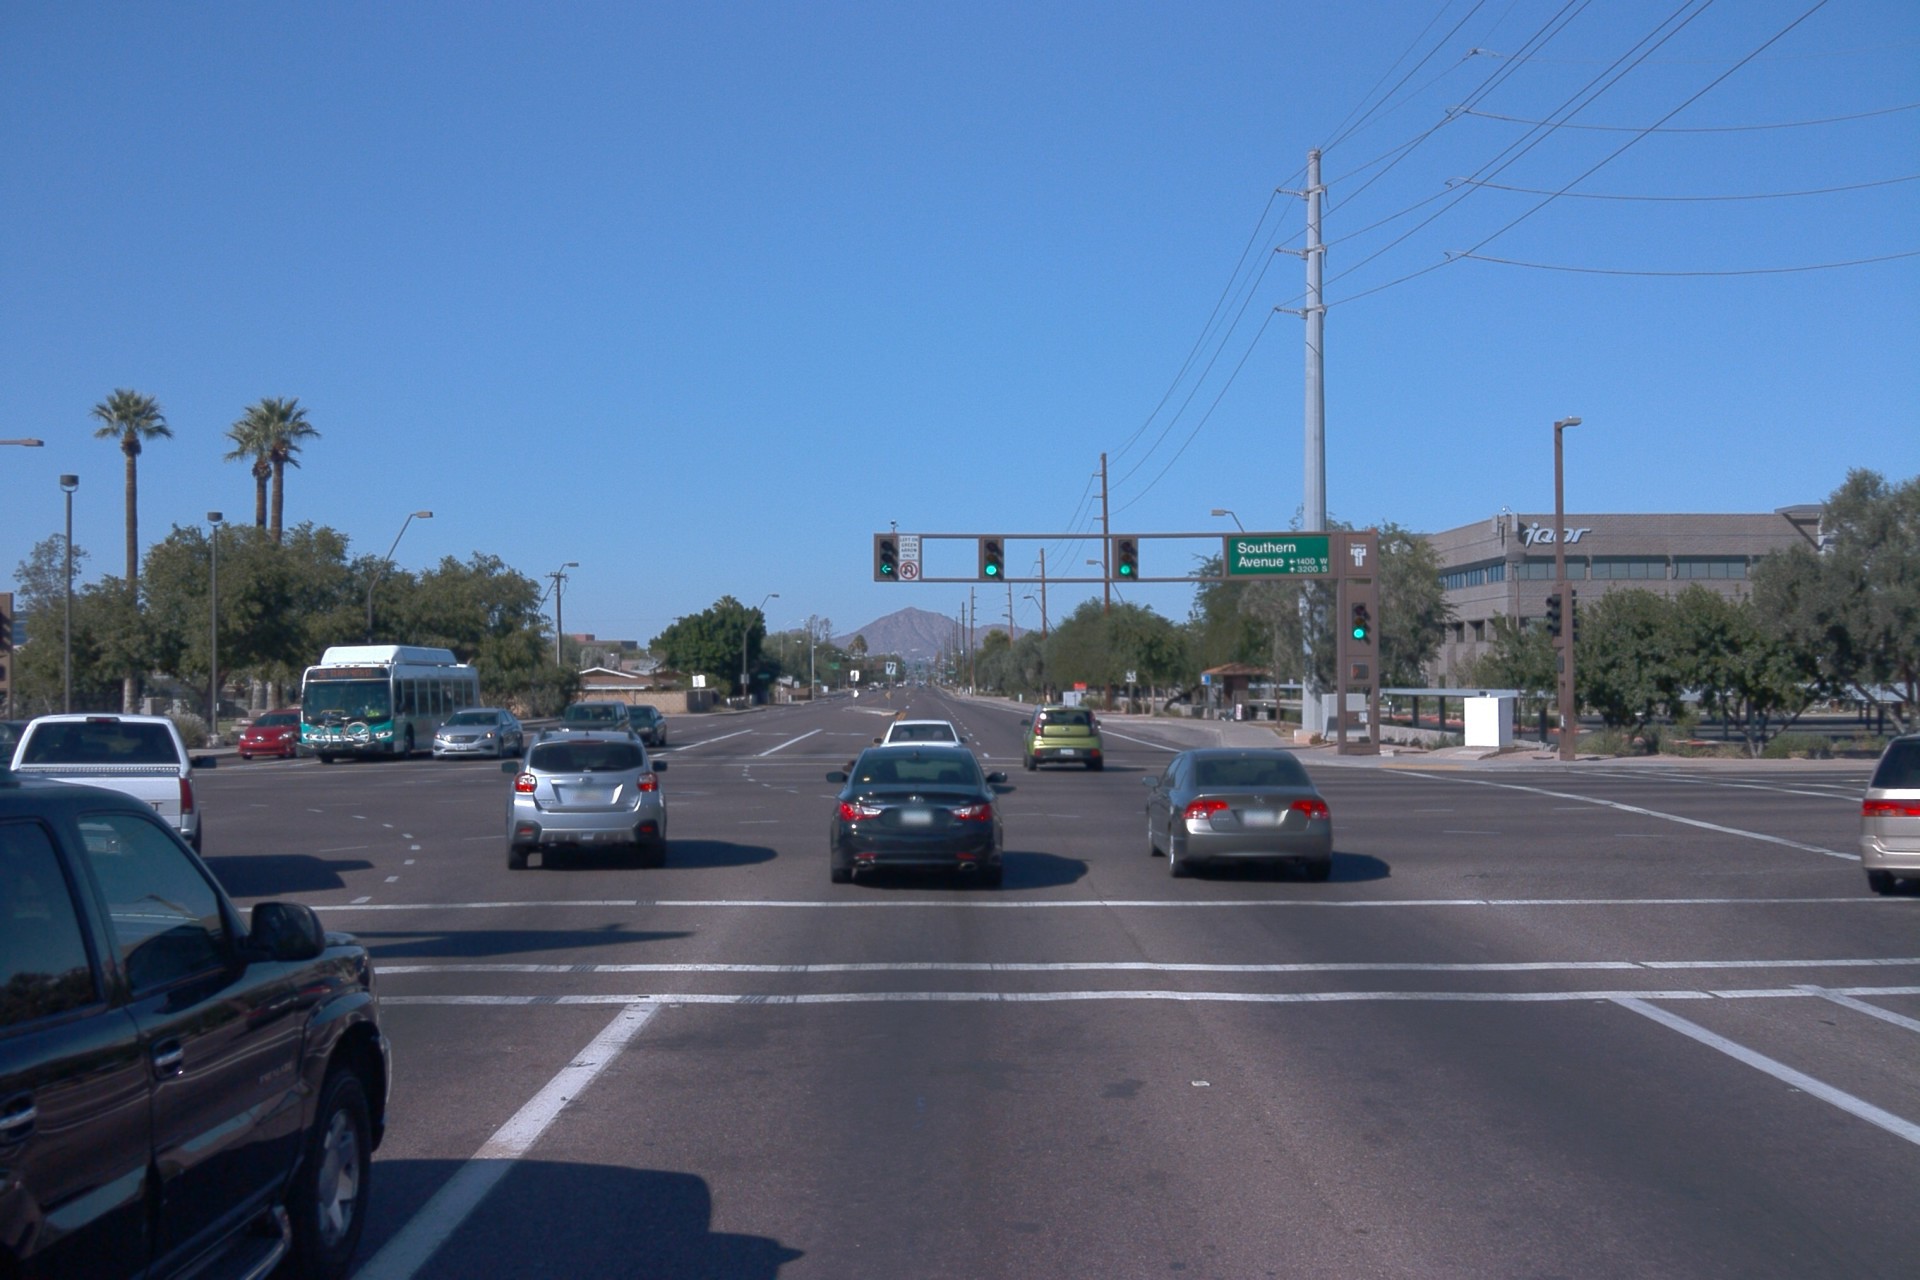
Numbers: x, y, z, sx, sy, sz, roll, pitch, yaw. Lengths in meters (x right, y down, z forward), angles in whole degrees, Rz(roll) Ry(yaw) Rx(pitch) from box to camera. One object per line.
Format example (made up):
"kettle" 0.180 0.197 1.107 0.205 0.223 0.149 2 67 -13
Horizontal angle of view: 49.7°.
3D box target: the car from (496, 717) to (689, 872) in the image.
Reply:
"car" -4.518 1.775 25.065 2.074 1.610 4.775 1 -1 -12

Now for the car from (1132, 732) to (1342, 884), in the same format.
"car" 3.144 1.890 24.385 1.907 1.500 4.573 0 -1 1

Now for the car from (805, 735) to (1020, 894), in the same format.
"car" -0.520 1.869 23.319 2.156 1.470 4.806 0 -1 -1
